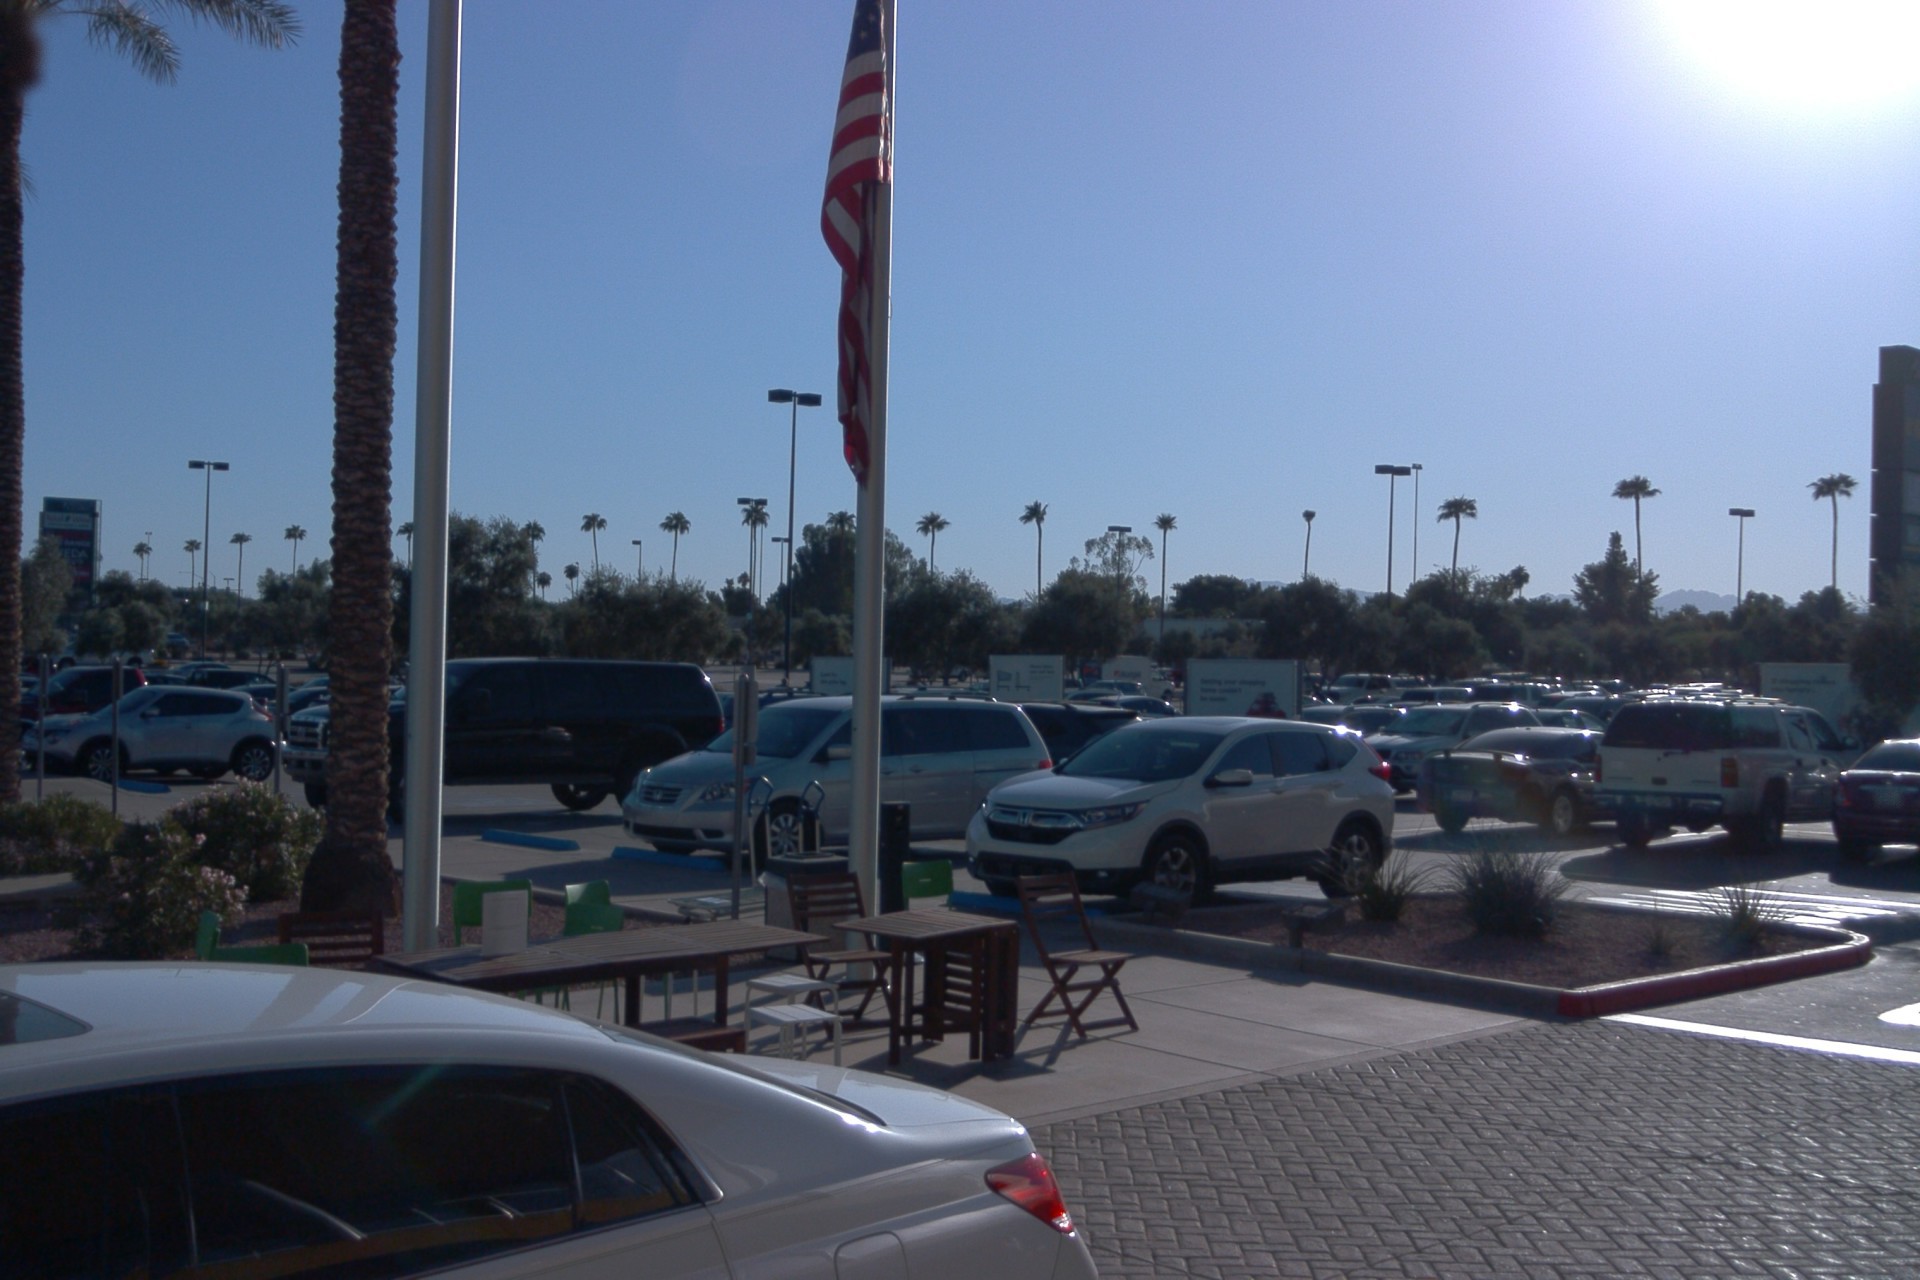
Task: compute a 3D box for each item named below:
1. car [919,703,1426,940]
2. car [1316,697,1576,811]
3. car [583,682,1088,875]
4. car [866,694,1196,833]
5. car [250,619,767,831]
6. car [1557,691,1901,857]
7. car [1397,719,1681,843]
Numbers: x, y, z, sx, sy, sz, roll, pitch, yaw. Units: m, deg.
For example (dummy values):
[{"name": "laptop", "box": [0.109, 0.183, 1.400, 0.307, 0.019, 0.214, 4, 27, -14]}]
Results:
[{"name": "car", "box": [2.009, 1.476, 18.378, 2.159, 1.710, 4.564, 0, 0, 43]}, {"name": "car", "box": [8.862, 1.998, 37.421, 4.866, 1.830, 2.266, 1, 0, -43]}, {"name": "car", "box": [-1.223, 1.379, 22.433, 5.286, 1.780, 2.246, 1, 0, -45]}, {"name": "car", "box": [0.979, 1.744, 30.501, 4.563, 1.770, 2.205, 0, 0, 44]}, {"name": "car", "box": [-5.857, 1.023, 27.382, 6.160, 2.490, 2.672, 1, 0, -42]}, {"name": "car", "box": [10.213, 1.657, 27.178, 5.317, 1.880, 2.178, 1, 0, -44]}, {"name": "car", "box": [8.270, 1.937, 29.299, 4.346, 1.490, 1.909, 1, 0, -44]}]
